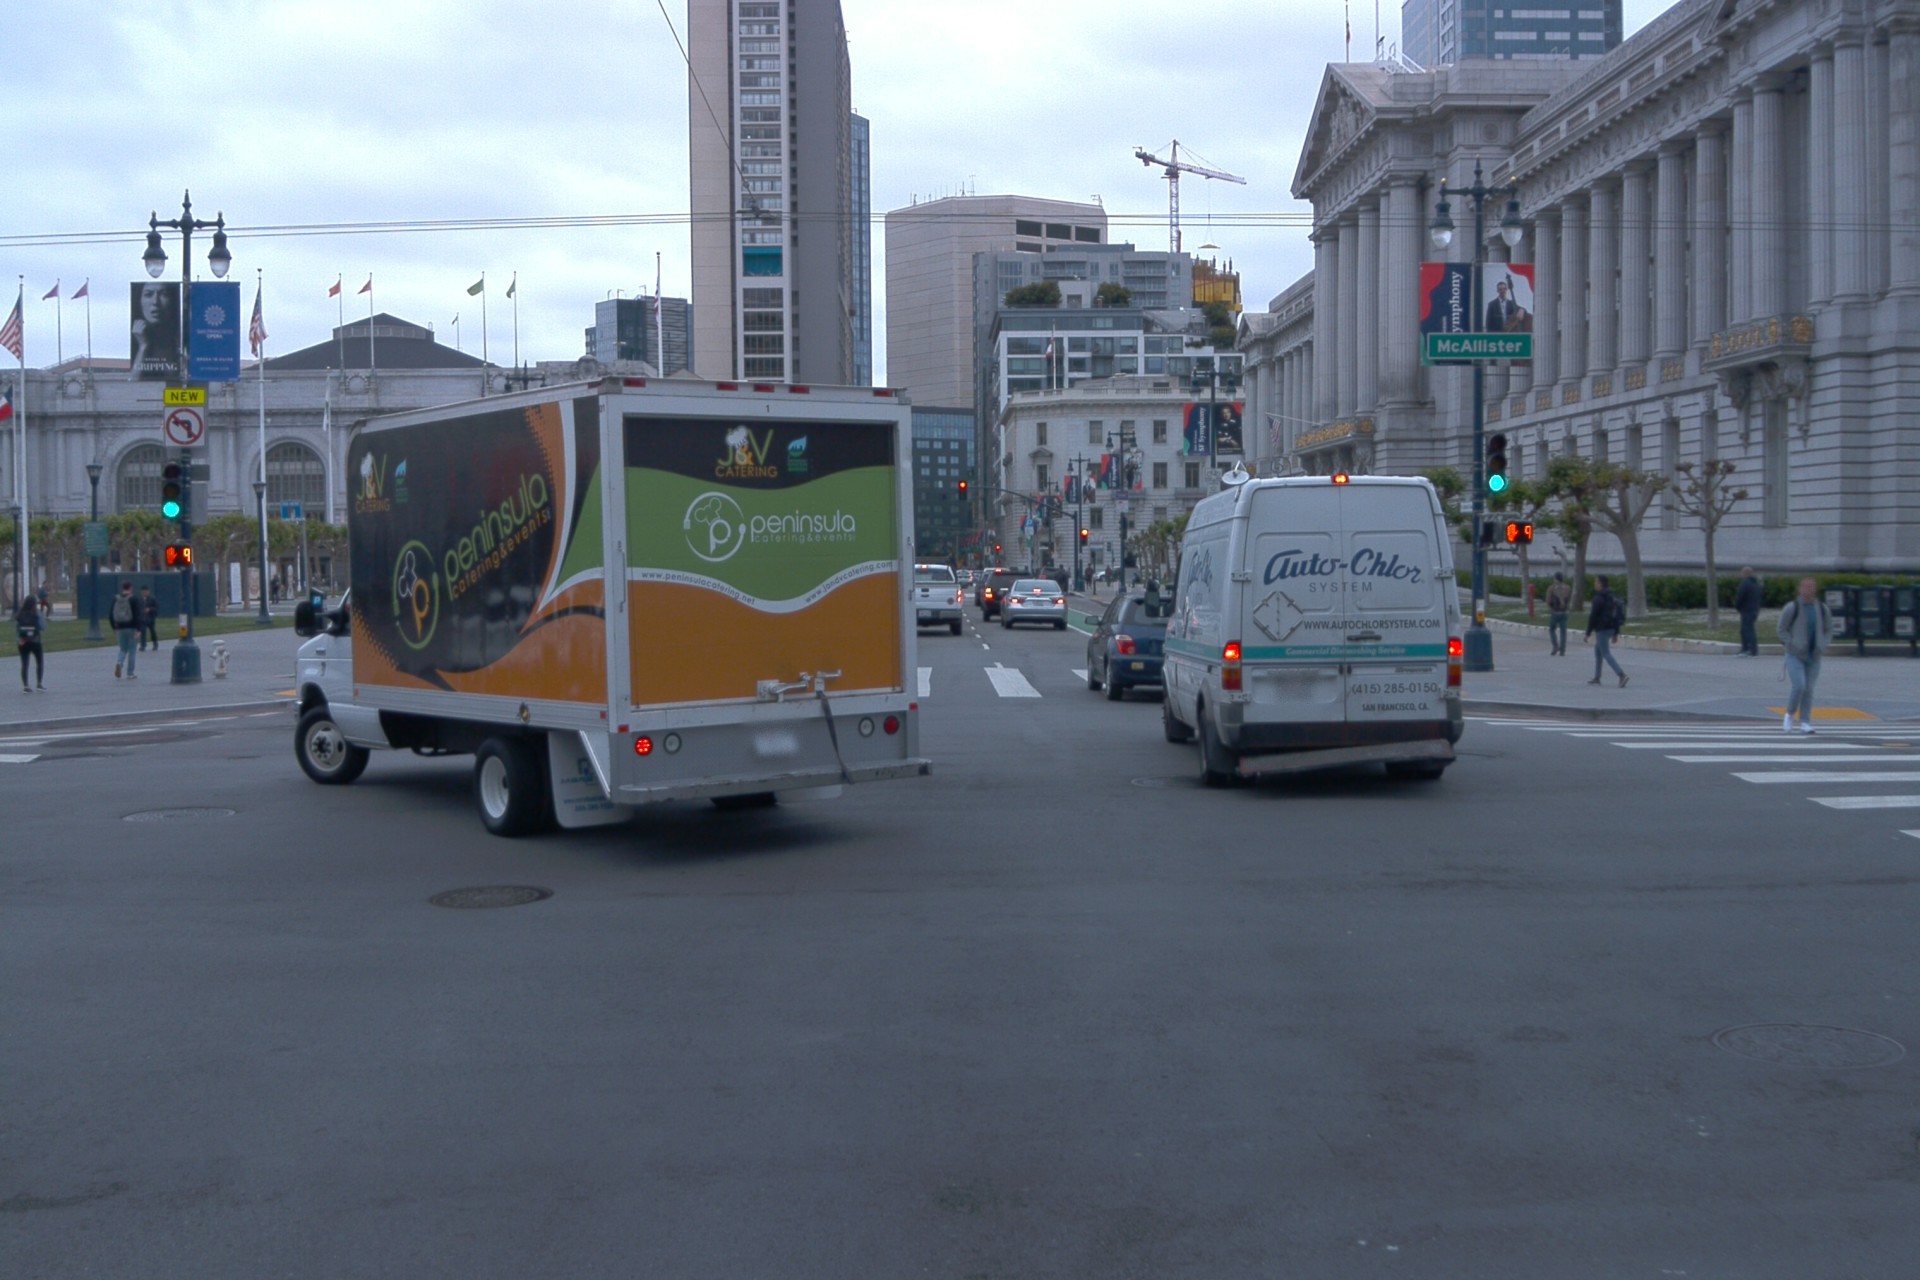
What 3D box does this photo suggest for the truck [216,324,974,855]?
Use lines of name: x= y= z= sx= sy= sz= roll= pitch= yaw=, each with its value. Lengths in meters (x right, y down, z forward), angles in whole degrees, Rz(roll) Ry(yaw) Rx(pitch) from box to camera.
truck: x=-3.305 y=-0.370 z=16.559 sx=2.904 sy=3.300 sz=7.318 roll=-1 pitch=1 yaw=-38

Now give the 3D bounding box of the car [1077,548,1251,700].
car: x=2.789 y=-0.244 z=28.974 sx=1.934 sy=1.990 sz=4.032 roll=0 pitch=1 yaw=-1

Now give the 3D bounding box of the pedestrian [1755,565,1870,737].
pedestrian: x=9.375 y=0.109 z=22.658 sx=0.811 sy=1.850 sz=1.152 roll=0 pitch=1 yaw=2

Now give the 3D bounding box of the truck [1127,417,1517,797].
truck: x=2.983 y=-0.298 z=18.596 sx=2.404 sy=2.850 sz=6.221 roll=0 pitch=1 yaw=0

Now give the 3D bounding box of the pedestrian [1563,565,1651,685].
pedestrian: x=9.682 y=-0.225 z=30.781 sx=0.828 sy=1.760 sz=0.938 roll=-1 pitch=1 yaw=-27
